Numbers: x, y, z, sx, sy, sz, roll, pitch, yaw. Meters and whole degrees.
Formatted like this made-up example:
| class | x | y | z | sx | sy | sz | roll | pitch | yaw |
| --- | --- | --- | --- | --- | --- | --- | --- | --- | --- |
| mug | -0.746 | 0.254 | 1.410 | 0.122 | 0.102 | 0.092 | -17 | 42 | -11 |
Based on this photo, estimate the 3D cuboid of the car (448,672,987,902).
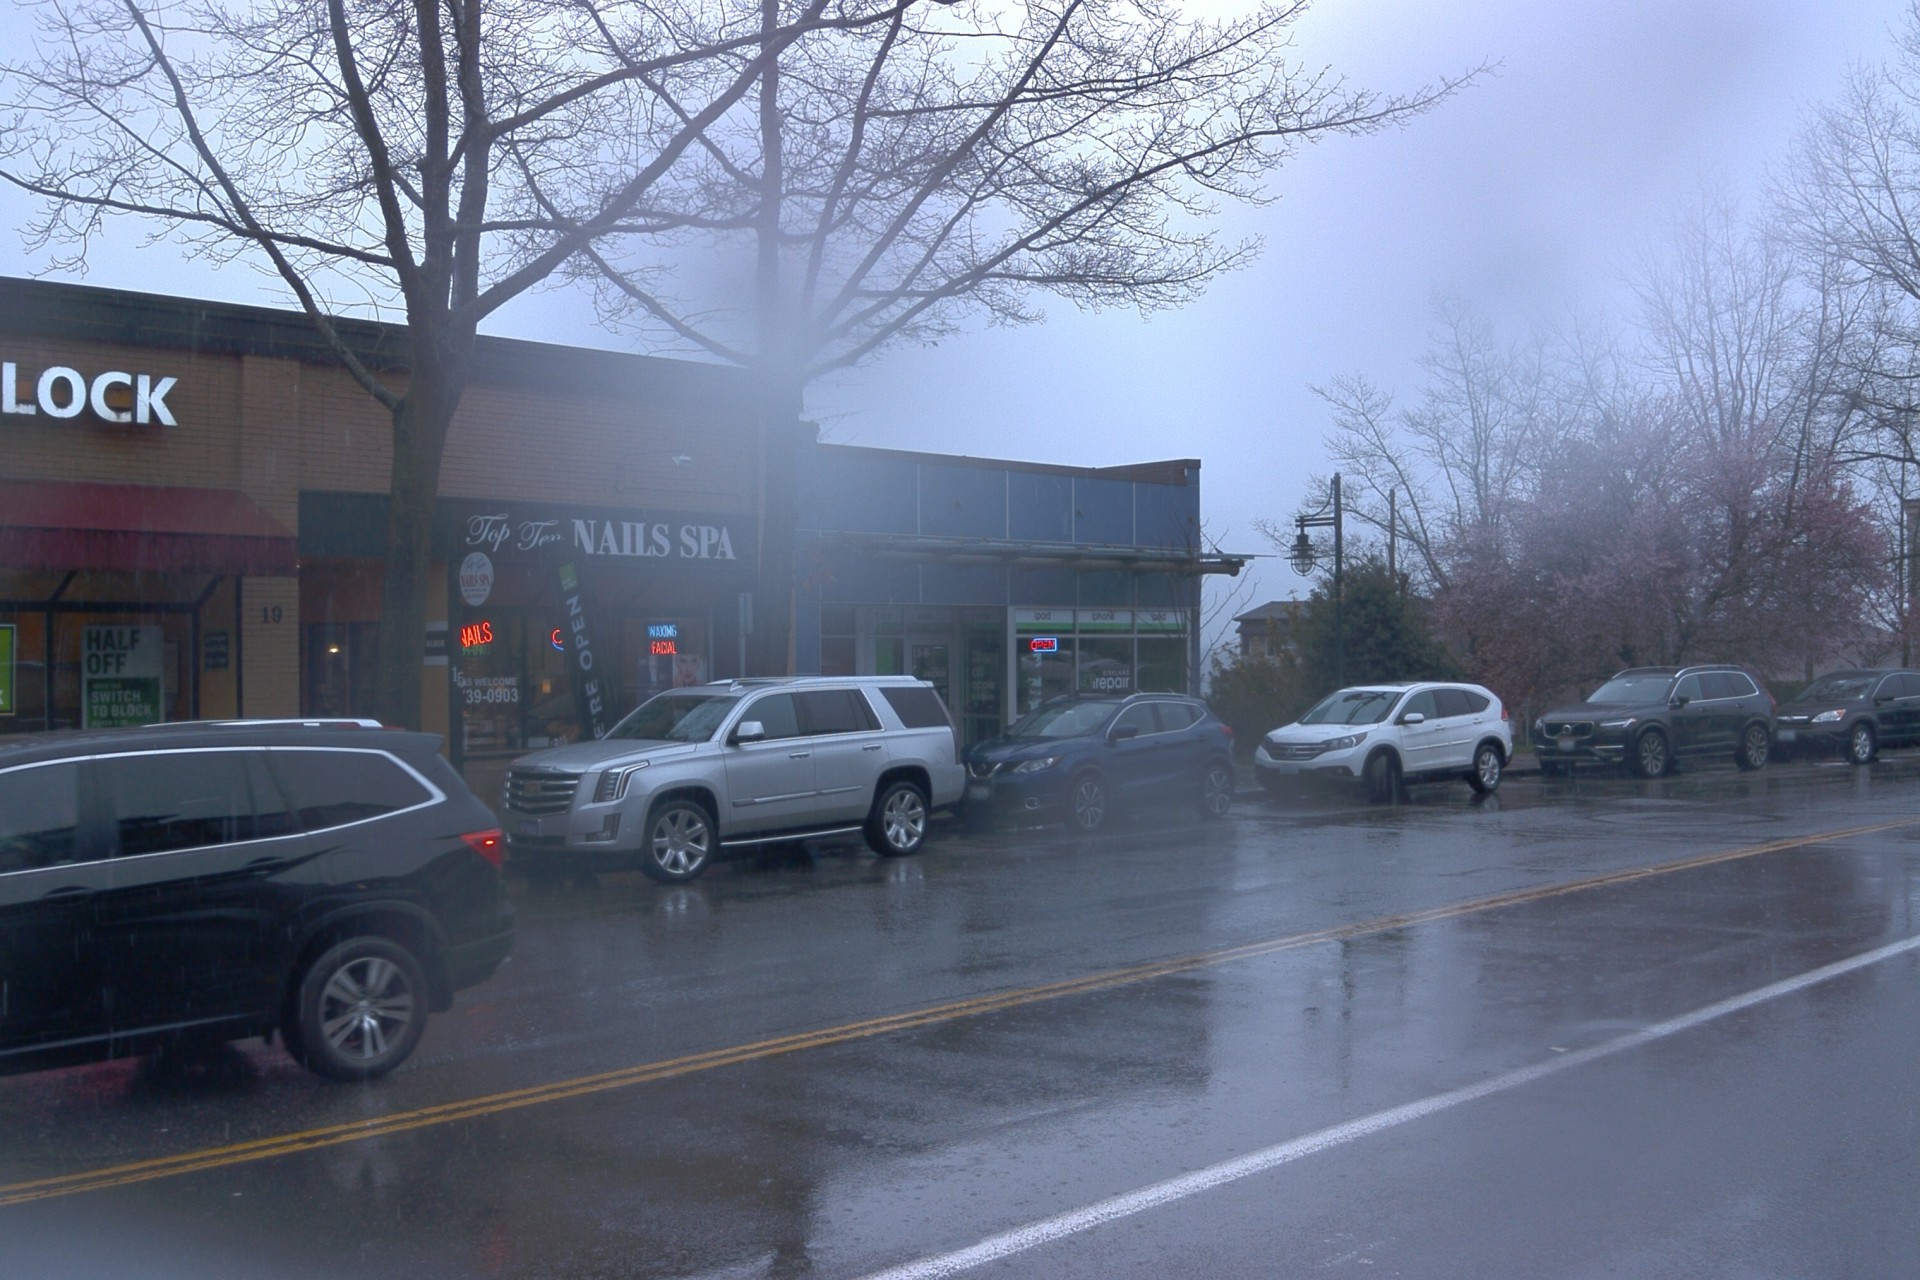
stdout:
| class | x | y | z | sx | sy | sz | roll | pitch | yaw |
| --- | --- | --- | --- | --- | --- | --- | --- | --- | --- |
| car | -2.320 | 1.346 | 21.042 | 2.331 | 1.890 | 5.194 | 1 | 1 | 42 |

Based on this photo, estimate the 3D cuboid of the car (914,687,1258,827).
| class | x | y | z | sx | sy | sz | roll | pitch | yaw |
| --- | --- | --- | --- | --- | --- | --- | --- | --- | --- |
| car | 1.625 | 1.353 | 25.280 | 1.999 | 1.400 | 4.335 | 1 | 1 | 40 |

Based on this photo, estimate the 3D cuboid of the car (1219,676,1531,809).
| class | x | y | z | sx | sy | sz | roll | pitch | yaw |
| --- | --- | --- | --- | --- | --- | --- | --- | --- | --- |
| car | 6.002 | 1.392 | 29.598 | 4.481 | 1.610 | 2.181 | -1 | 1 | -43 |

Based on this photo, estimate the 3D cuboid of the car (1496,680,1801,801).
| class | x | y | z | sx | sy | sz | roll | pitch | yaw |
| --- | --- | --- | --- | --- | --- | --- | --- | --- | --- |
| car | 11.416 | 1.592 | 34.052 | 5.296 | 1.690 | 2.144 | -1 | 1 | -37 |
